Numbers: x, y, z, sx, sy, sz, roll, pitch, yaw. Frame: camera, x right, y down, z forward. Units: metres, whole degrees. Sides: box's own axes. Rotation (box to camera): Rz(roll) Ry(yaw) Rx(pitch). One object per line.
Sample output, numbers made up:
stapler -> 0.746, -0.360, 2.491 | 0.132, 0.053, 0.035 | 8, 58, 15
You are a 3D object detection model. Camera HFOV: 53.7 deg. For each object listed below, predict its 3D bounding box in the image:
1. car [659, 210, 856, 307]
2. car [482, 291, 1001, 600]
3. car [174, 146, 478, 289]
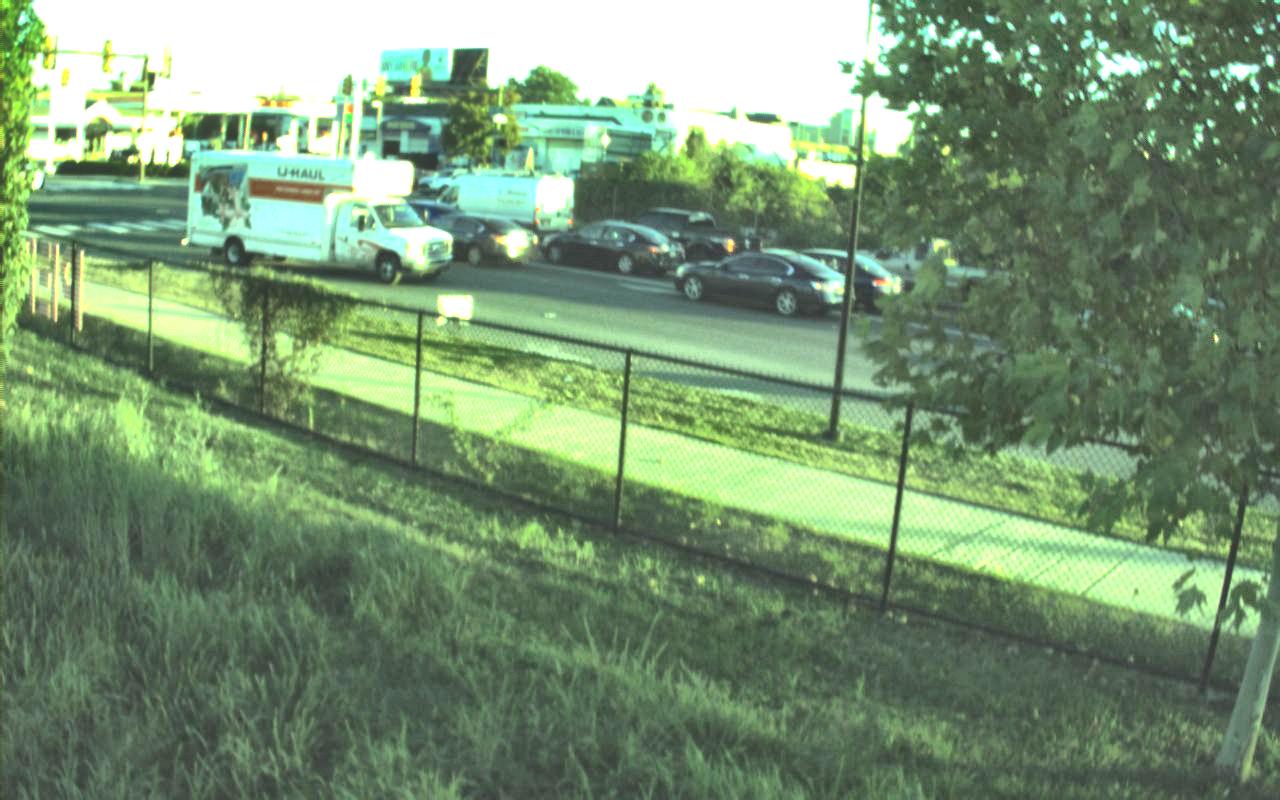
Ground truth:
car -> 2.868, -3.580, 31.197 | 4.624, 1.658, 1.991 | 13, 21, 41
car -> 0.872, 0.216, 12.143 | 4.692, 1.681, 2.067 | 12, 20, 39
car -> -8.518, -4.941, 32.333 | 8.062, 3.166, 2.868 | 6, 17, 22
